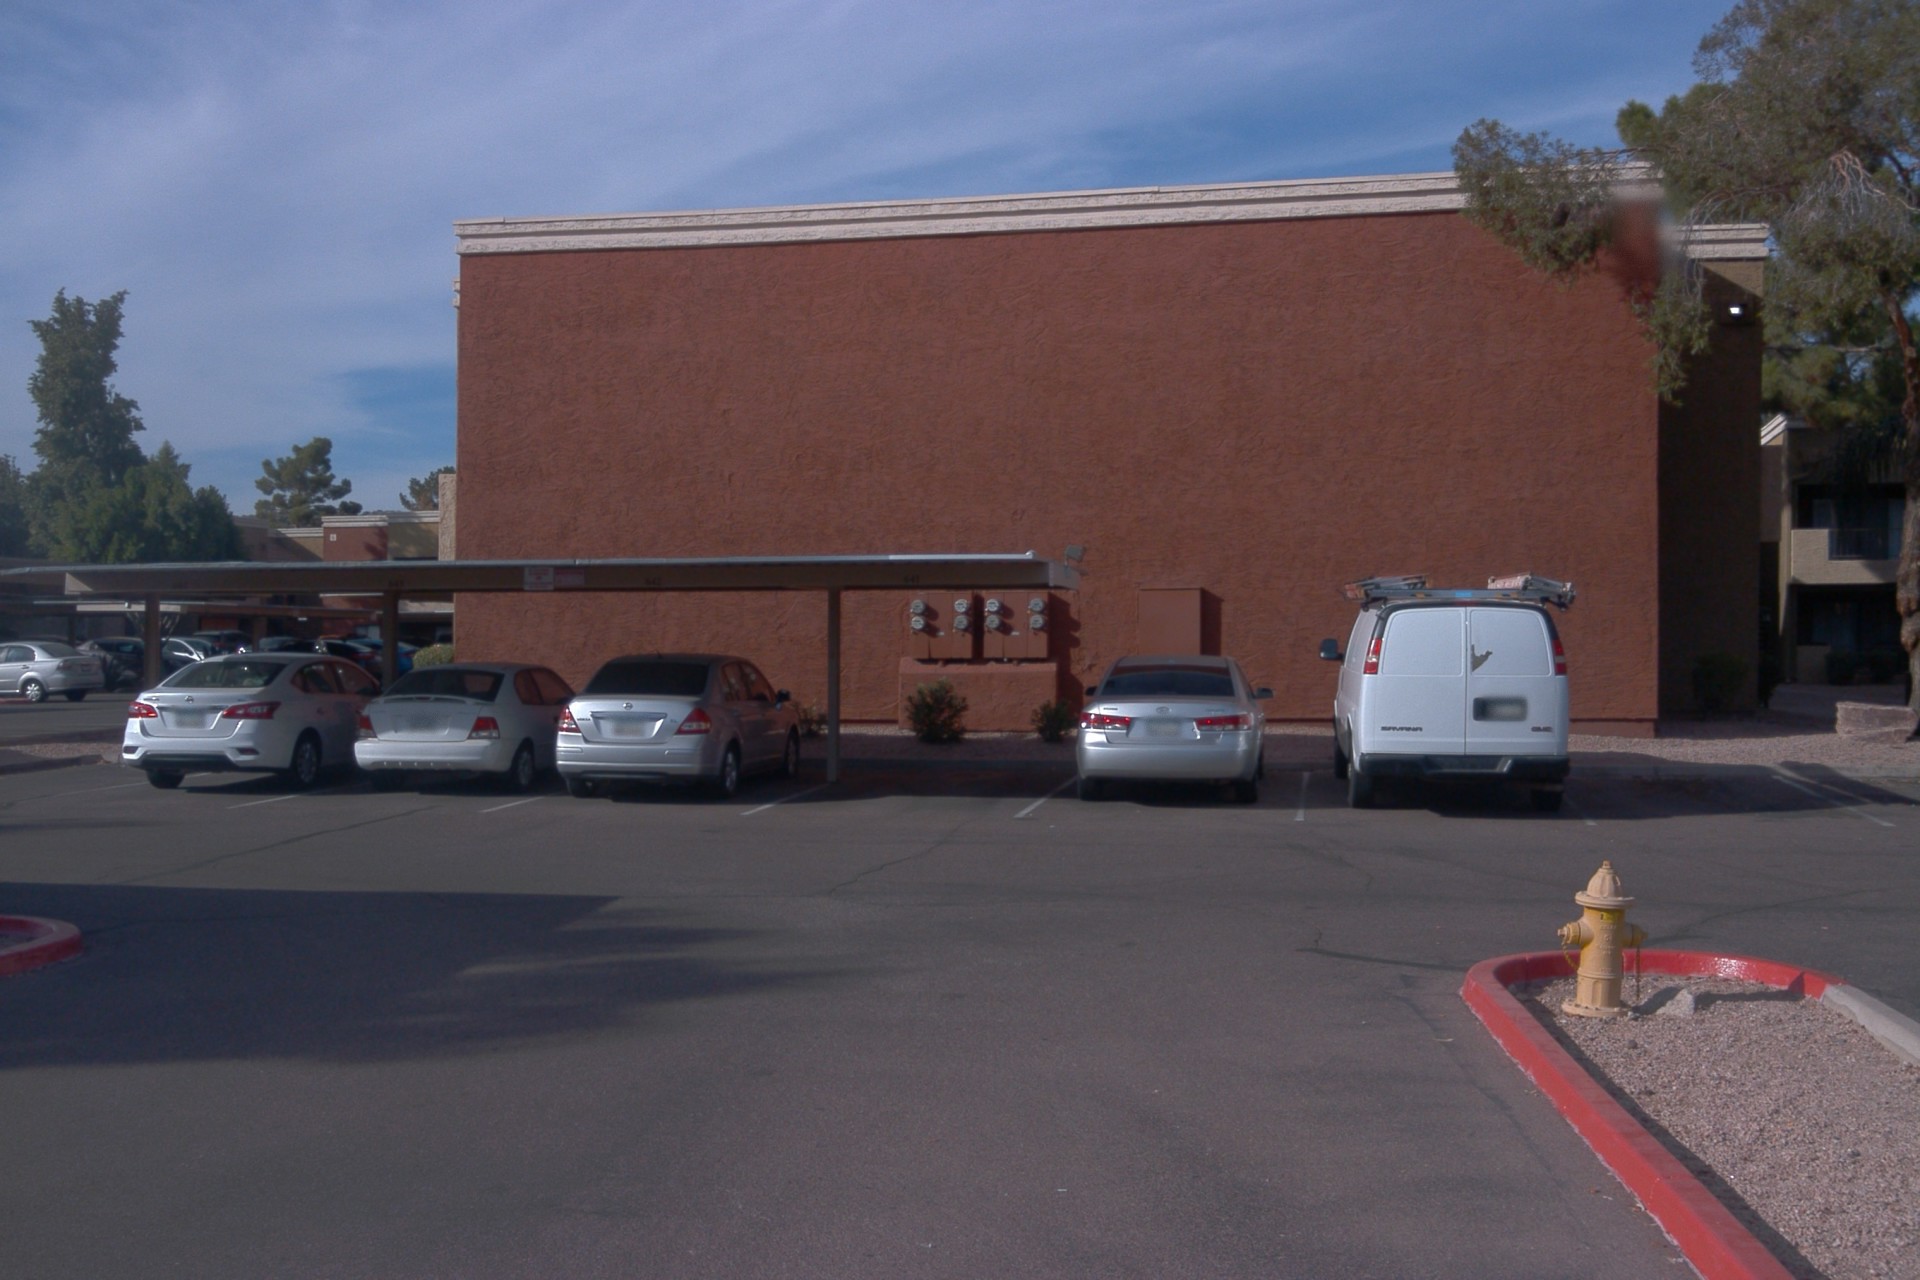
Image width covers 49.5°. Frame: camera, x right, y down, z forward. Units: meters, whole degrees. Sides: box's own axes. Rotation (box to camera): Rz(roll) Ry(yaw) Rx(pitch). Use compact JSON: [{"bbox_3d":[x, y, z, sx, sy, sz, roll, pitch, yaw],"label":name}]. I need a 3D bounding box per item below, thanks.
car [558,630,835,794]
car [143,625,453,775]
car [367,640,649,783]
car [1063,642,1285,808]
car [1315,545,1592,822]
[{"bbox_3d":[-2.780,0.751,22.944,1.828,1.630,4.160,0,-1,11],"label":"car"},{"bbox_3d":[-7.505,0.662,24.014,1.727,1.580,3.974,0,-1,11],"label":"car"},{"bbox_3d":[-5.045,0.779,23.771,1.749,1.490,3.939,0,-1,11],"label":"car"},{"bbox_3d":[2.390,0.849,22.244,2.008,1.580,4.429,0,-1,11],"label":"car"},{"bbox_3d":[5.018,0.441,21.980,2.351,2.520,5.683,0,-1,8],"label":"car"}]
